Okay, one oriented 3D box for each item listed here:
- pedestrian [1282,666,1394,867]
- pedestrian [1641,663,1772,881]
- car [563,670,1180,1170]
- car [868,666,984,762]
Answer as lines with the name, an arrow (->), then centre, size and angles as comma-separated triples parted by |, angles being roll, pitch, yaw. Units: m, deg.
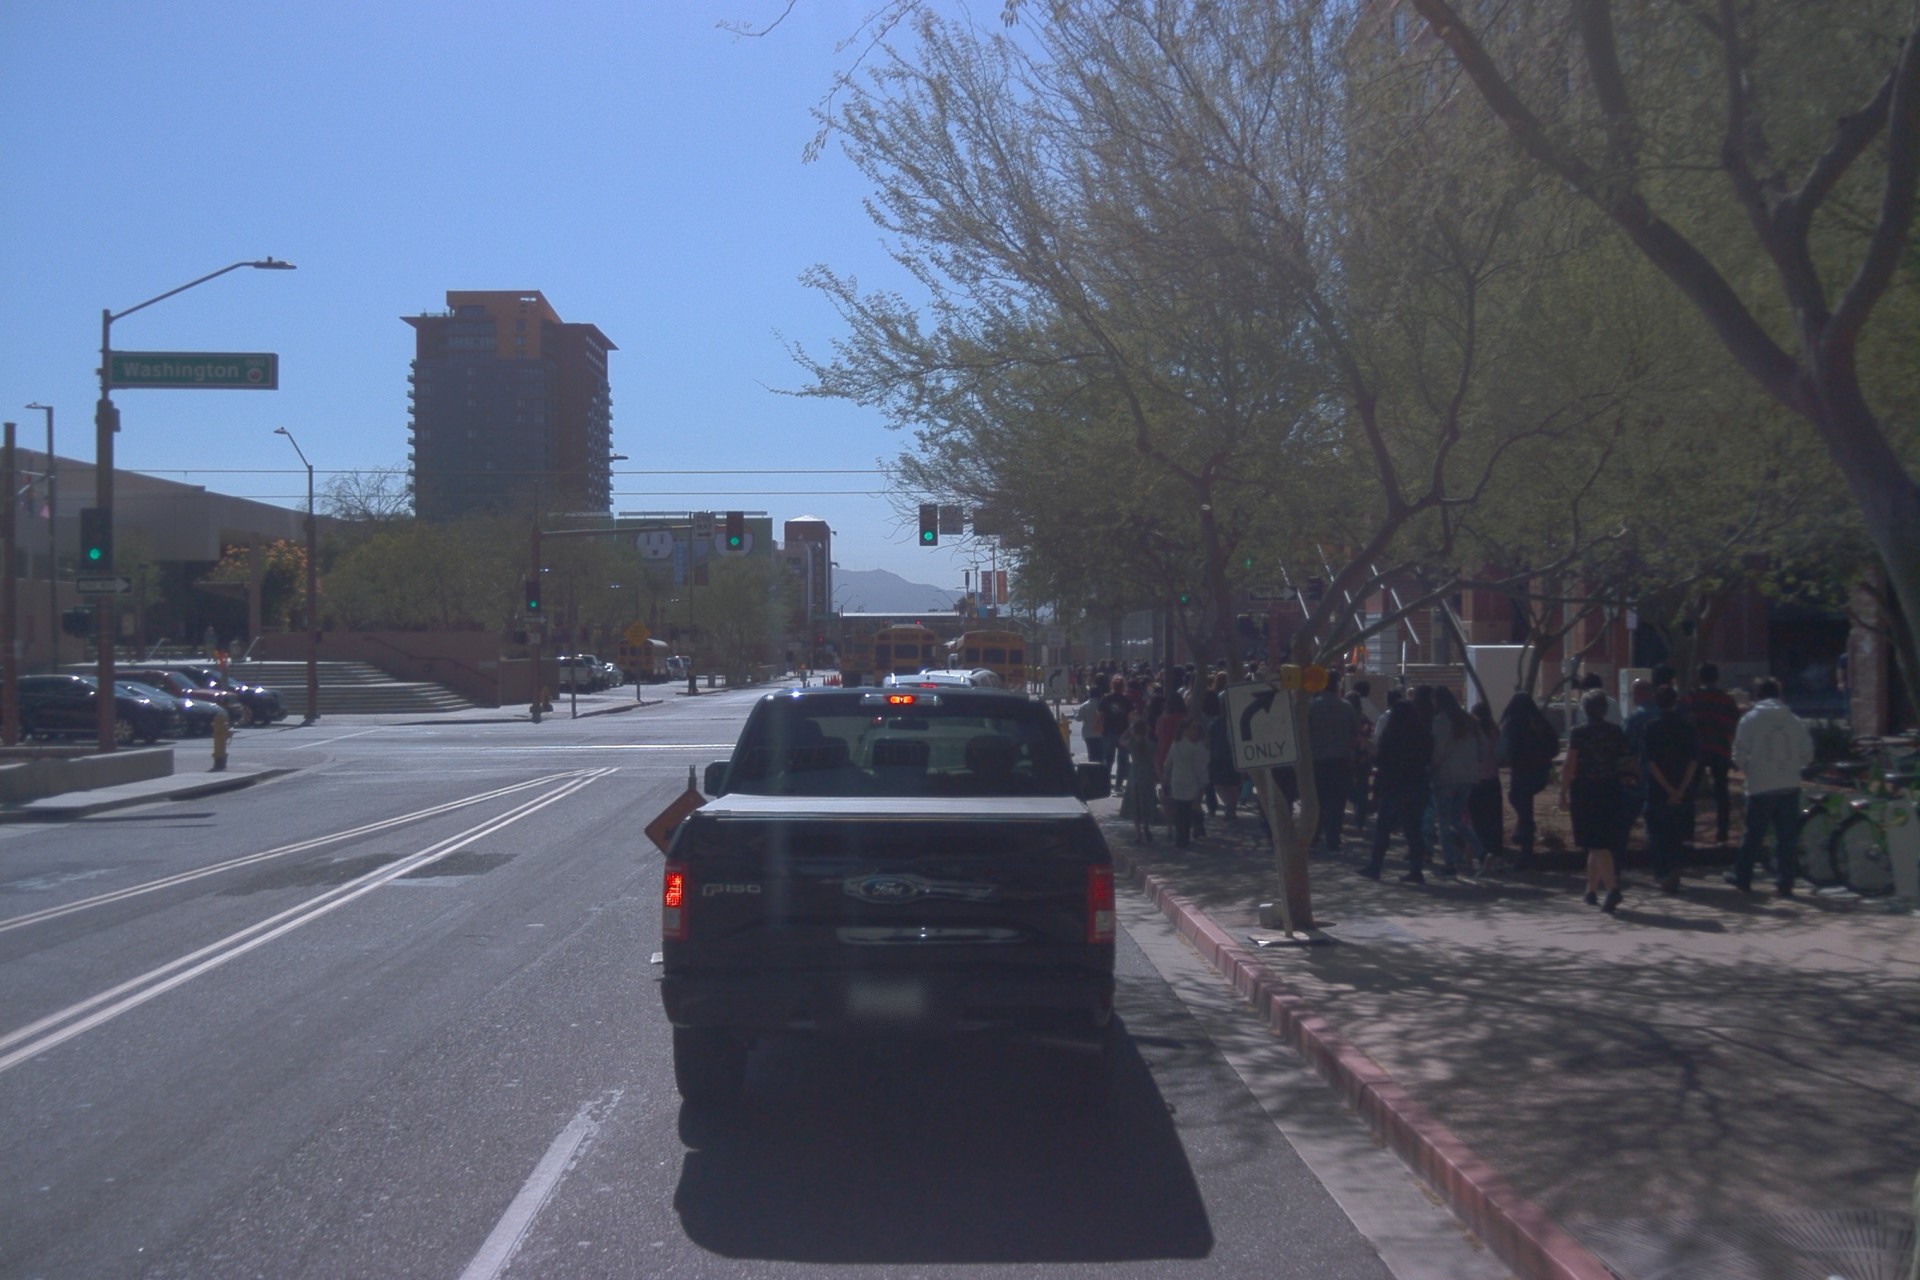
pedestrian -> 3.670, 1.208, 20.261 | 0.959, 1.900, 0.880 | 0, 0, 4
pedestrian -> 6.583, 1.144, 18.374 | 0.835, 1.880, 0.792 | 0, 0, -2
car -> -0.340, 1.168, 11.064 | 2.487, 1.950, 5.329 | 0, 0, 0
car -> -0.494, 1.151, 33.752 | 1.753, 1.430, 4.270 | 0, 0, 1
